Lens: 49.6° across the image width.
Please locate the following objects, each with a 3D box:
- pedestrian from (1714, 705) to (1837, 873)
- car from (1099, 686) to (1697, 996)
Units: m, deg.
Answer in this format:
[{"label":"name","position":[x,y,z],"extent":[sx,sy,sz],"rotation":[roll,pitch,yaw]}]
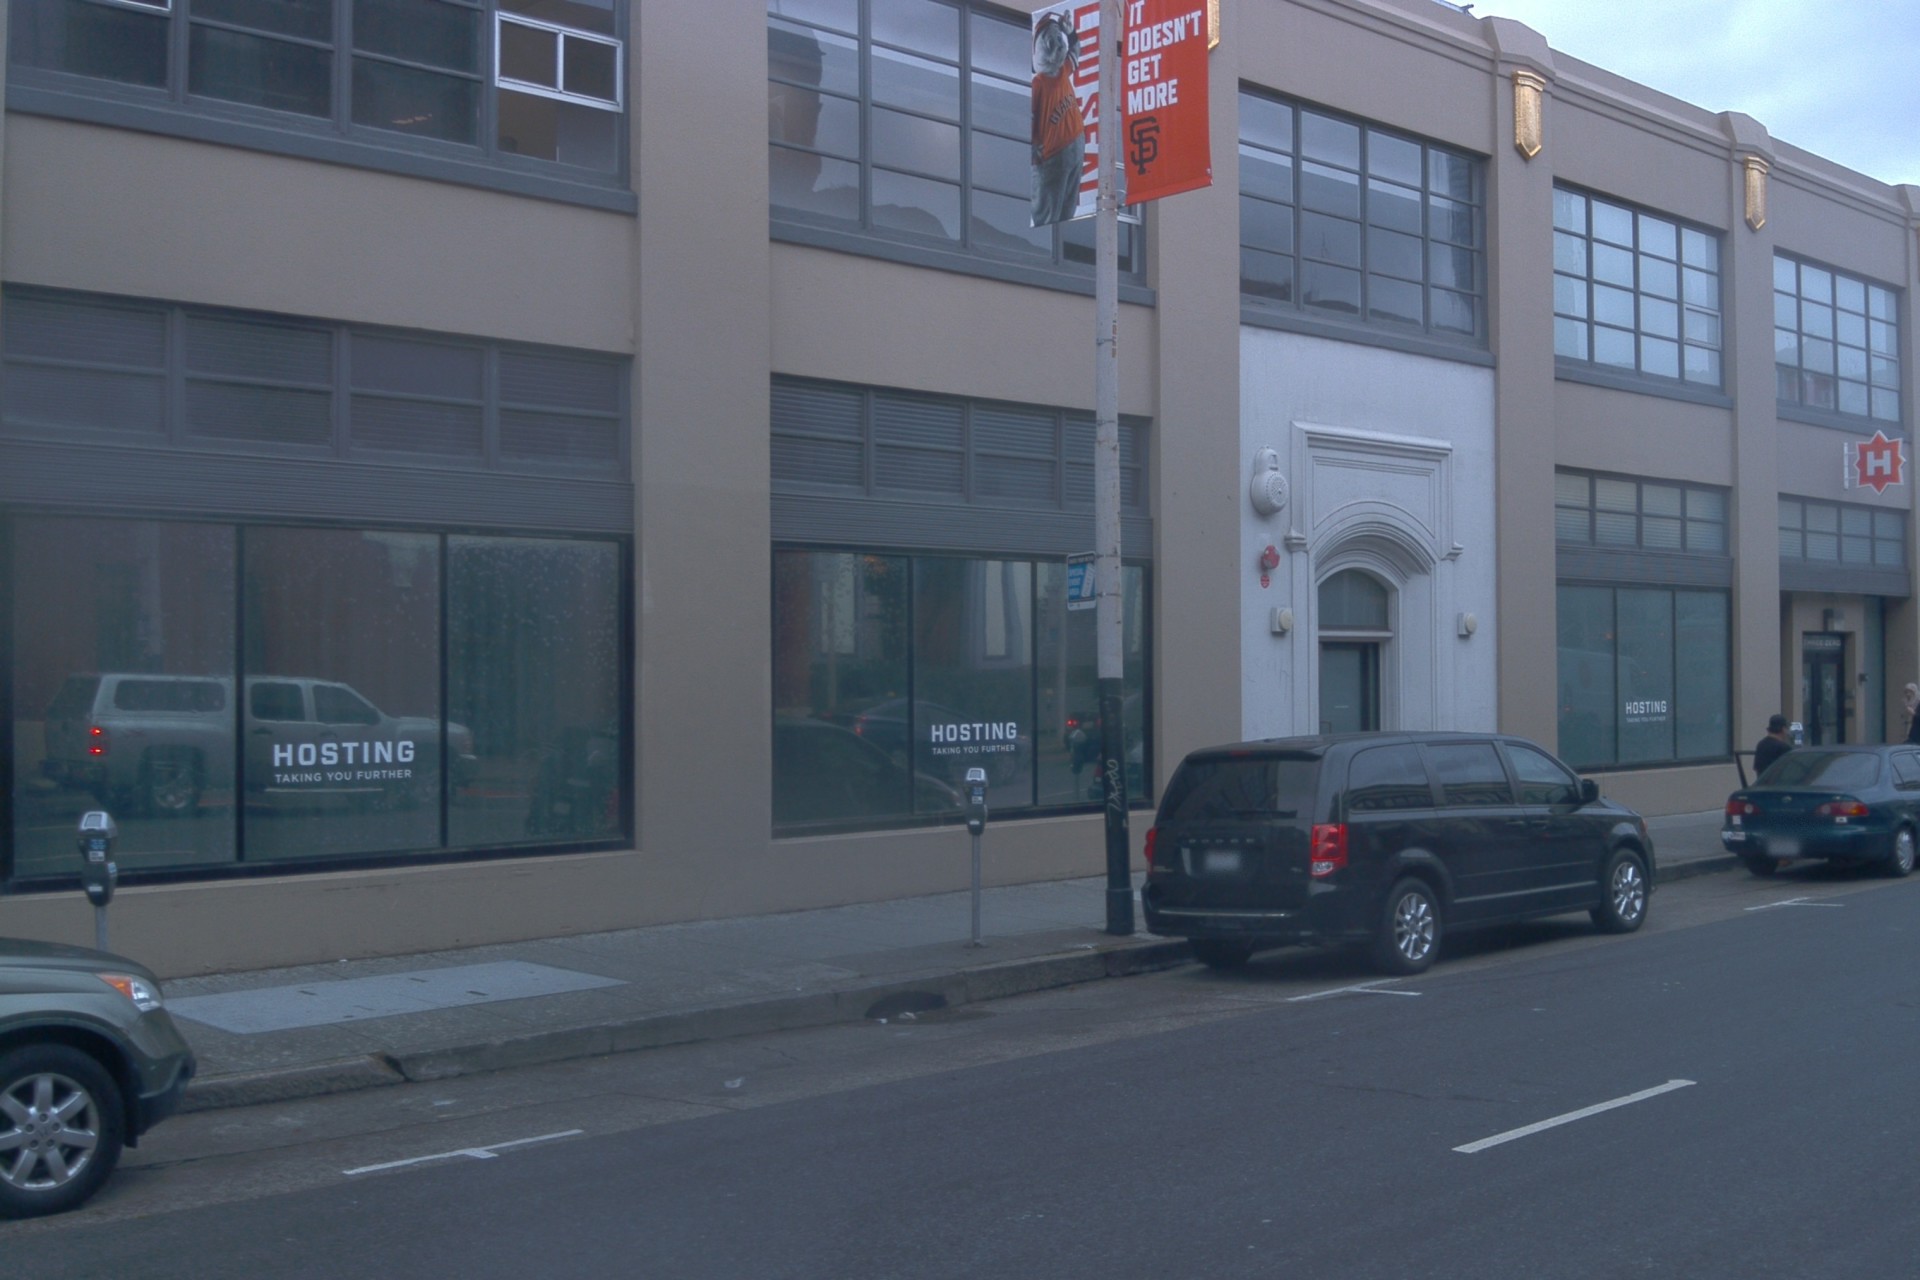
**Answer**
[{"label":"pedestrian","position":[9.025,1.628,23.064],"extent":[0.854,1.767,1.112],"rotation":[0,0,-7]},{"label":"car","position":[3.598,1.393,16.390],"extent":[5.129,1.960,2.084],"rotation":[0,0,-44]}]
